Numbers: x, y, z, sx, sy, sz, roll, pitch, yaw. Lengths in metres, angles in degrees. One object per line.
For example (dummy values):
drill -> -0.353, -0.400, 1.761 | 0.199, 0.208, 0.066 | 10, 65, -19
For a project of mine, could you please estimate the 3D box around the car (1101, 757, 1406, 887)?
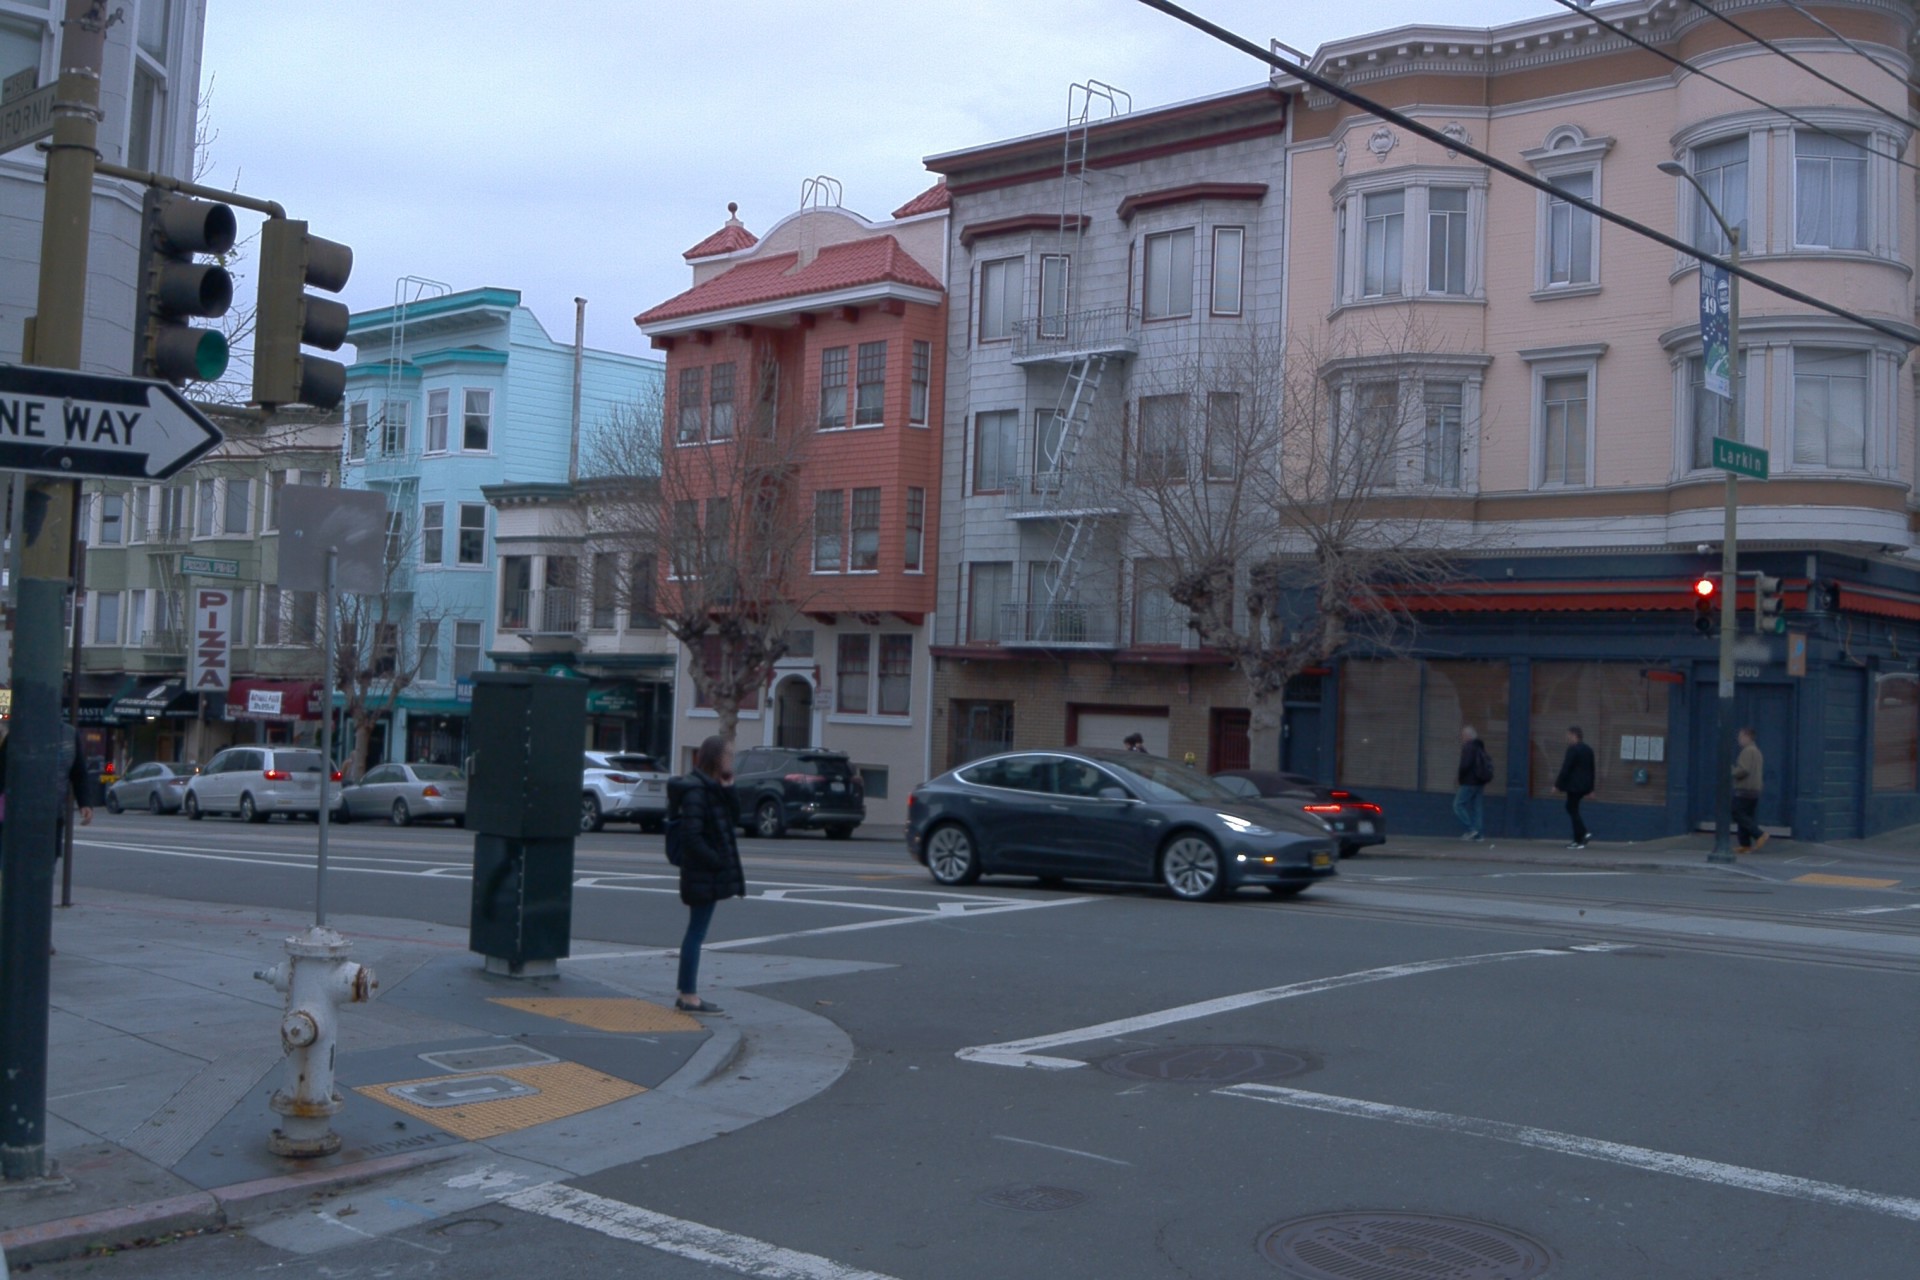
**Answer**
car -> 4.280, 2.627, 30.588 | 1.947, 1.460, 4.186 | -1, 1, -43

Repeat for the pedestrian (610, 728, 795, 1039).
pedestrian -> -1.515, 1.393, 12.138 | 0.846, 1.692, 0.707 | -1, 1, -35

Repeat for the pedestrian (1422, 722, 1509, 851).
pedestrian -> 8.044, 2.315, 32.838 | 0.772, 1.930, 1.100 | -1, 1, -45

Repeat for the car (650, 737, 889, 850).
car -> -3.623, 2.830, 38.769 | 4.423, 1.700, 2.100 | 1, 1, 44

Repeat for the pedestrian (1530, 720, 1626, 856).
pedestrian -> 9.266, 2.202, 30.954 | 1.080, 1.913, 0.903 | 1, 1, 43

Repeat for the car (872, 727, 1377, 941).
car -> 1.561, 1.822, 20.678 | 4.698, 1.630, 2.074 | 1, 1, 40

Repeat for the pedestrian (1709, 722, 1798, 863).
pedestrian -> 11.358, 2.164, 29.536 | 0.946, 1.900, 0.789 | 1, 1, 44
